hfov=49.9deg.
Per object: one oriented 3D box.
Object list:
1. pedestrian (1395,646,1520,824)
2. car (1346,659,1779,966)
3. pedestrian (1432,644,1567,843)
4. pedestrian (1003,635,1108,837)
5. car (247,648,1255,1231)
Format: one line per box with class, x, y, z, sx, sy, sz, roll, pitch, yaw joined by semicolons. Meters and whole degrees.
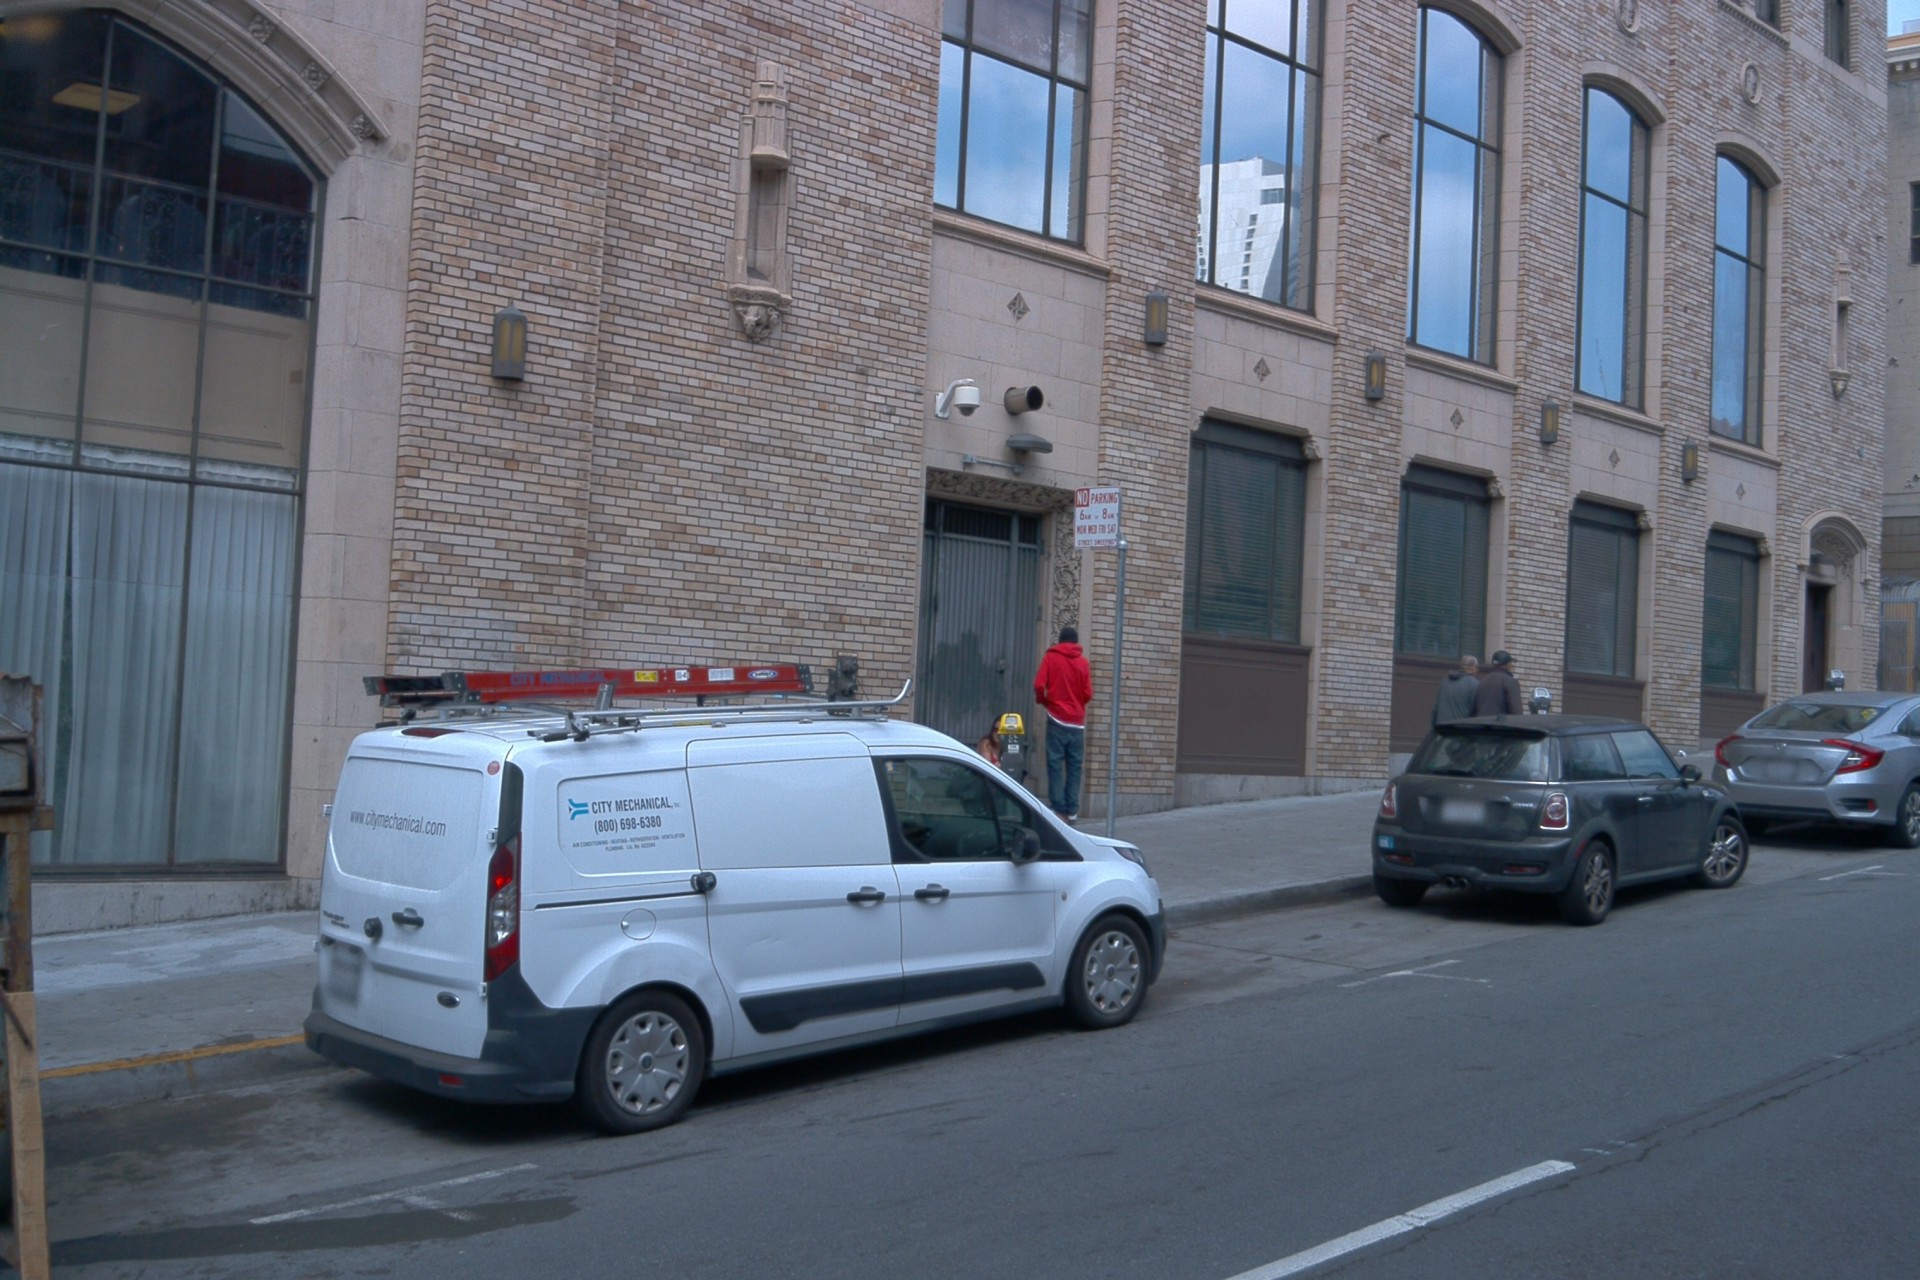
pedestrian;5.187;0.965;21.519;0.923;1.780;0.899;-1;1;-42
car;4.721;1.179;15.873;1.729;1.980;3.770;1;1;42
pedestrian;5.116;0.951;19.580;0.870;1.810;0.897;-1;1;-41
pedestrian;0.871;0.861;18.972;0.786;1.800;0.728;0;1;-13
car;-0.802;1.168;10.414;2.003;2.170;4.889;1;1;45
